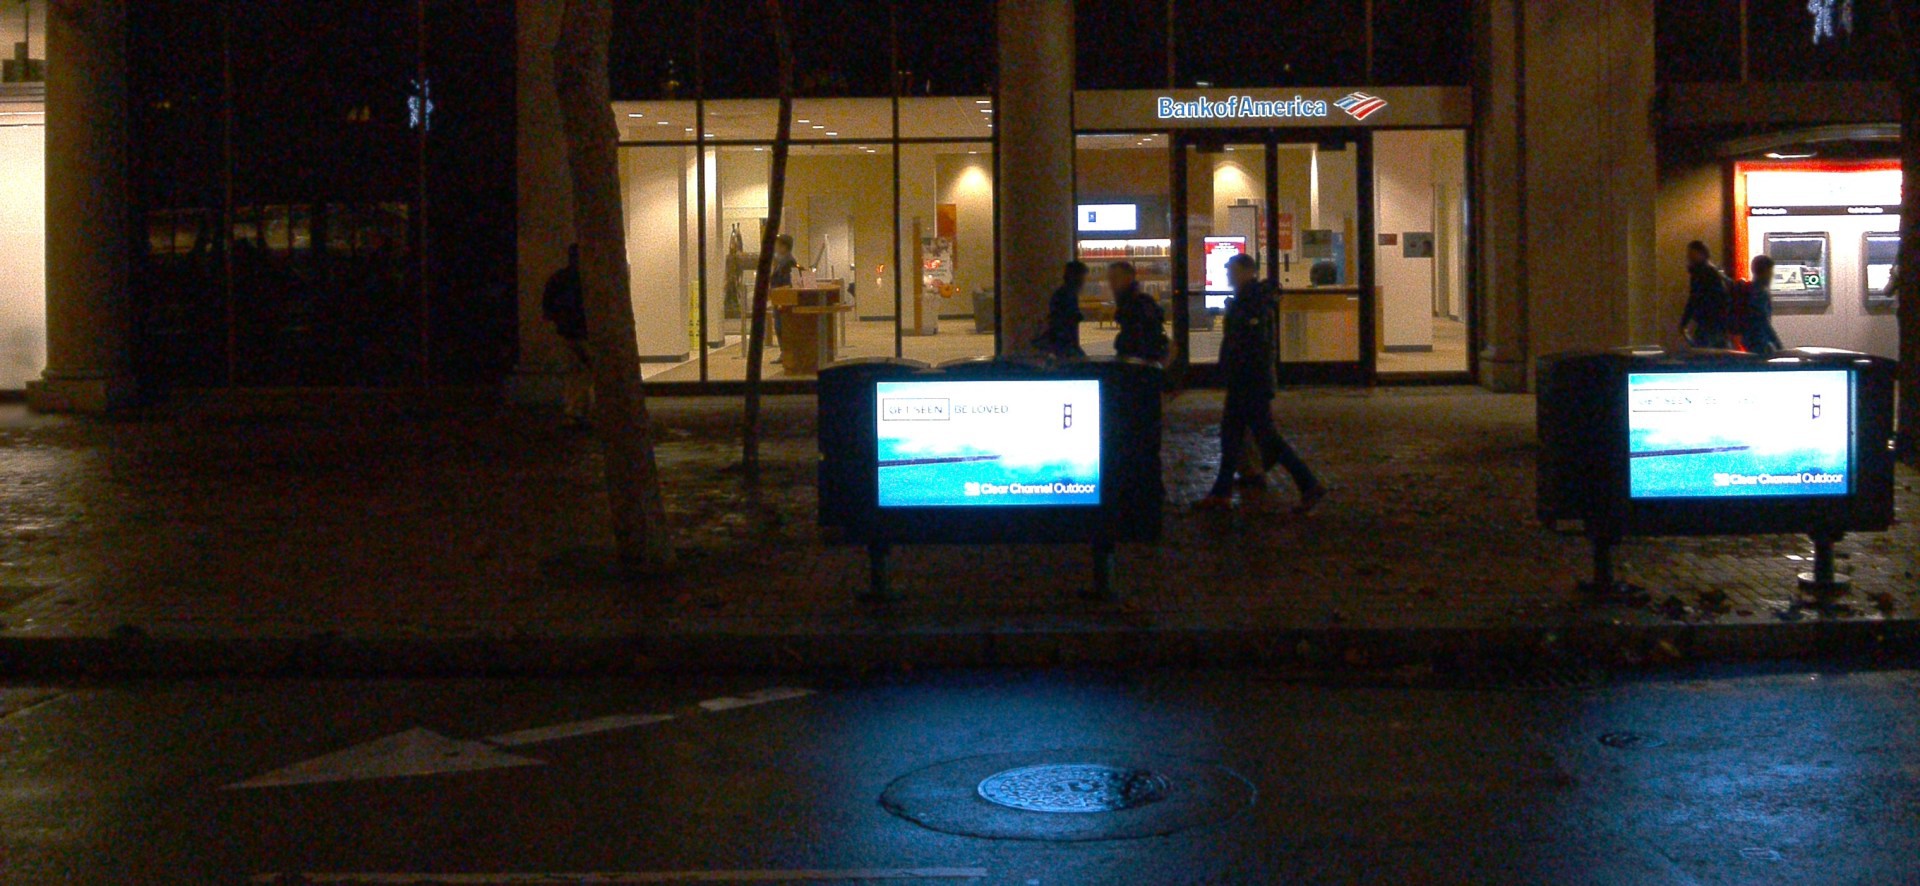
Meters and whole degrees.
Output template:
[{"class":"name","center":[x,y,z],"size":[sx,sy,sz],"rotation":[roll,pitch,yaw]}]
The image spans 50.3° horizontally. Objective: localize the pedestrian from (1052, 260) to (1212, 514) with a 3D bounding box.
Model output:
[{"class":"pedestrian","center":[1.273,-0.437,15.032],"size":[1.037,1.785,0.703],"rotation":[0,2,14]}]

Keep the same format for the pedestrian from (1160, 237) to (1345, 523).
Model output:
[{"class":"pedestrian","center":[2.034,-0.475,14.259],"size":[1.029,1.885,0.780],"rotation":[-2,3,-21]}]

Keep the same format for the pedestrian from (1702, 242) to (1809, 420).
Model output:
[{"class":"pedestrian","center":[7.408,-1.063,19.077],"size":[0.879,1.596,0.780],"rotation":[0,3,17]}]

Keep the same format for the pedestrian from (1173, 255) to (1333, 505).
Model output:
[{"class":"pedestrian","center":[2.200,-0.507,15.237],"size":[1.055,1.735,1.181],"rotation":[0,3,13]}]

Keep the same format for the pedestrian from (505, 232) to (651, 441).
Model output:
[{"class":"pedestrian","center":[-3.573,-1.023,19.239],"size":[1.049,1.885,1.026],"rotation":[0,3,6]}]

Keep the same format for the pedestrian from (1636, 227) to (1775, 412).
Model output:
[{"class":"pedestrian","center":[7.218,-1.215,19.855],"size":[1.133,1.725,0.852],"rotation":[0,3,8]}]

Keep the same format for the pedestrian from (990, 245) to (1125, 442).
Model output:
[{"class":"pedestrian","center":[0.898,-0.920,18.588],"size":[1.130,1.715,0.912],"rotation":[0,3,6]}]

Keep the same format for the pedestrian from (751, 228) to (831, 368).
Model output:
[{"class":"pedestrian","center":[-2.236,-1.936,27.090],"size":[0.835,1.795,0.694],"rotation":[-2,3,-28]}]
